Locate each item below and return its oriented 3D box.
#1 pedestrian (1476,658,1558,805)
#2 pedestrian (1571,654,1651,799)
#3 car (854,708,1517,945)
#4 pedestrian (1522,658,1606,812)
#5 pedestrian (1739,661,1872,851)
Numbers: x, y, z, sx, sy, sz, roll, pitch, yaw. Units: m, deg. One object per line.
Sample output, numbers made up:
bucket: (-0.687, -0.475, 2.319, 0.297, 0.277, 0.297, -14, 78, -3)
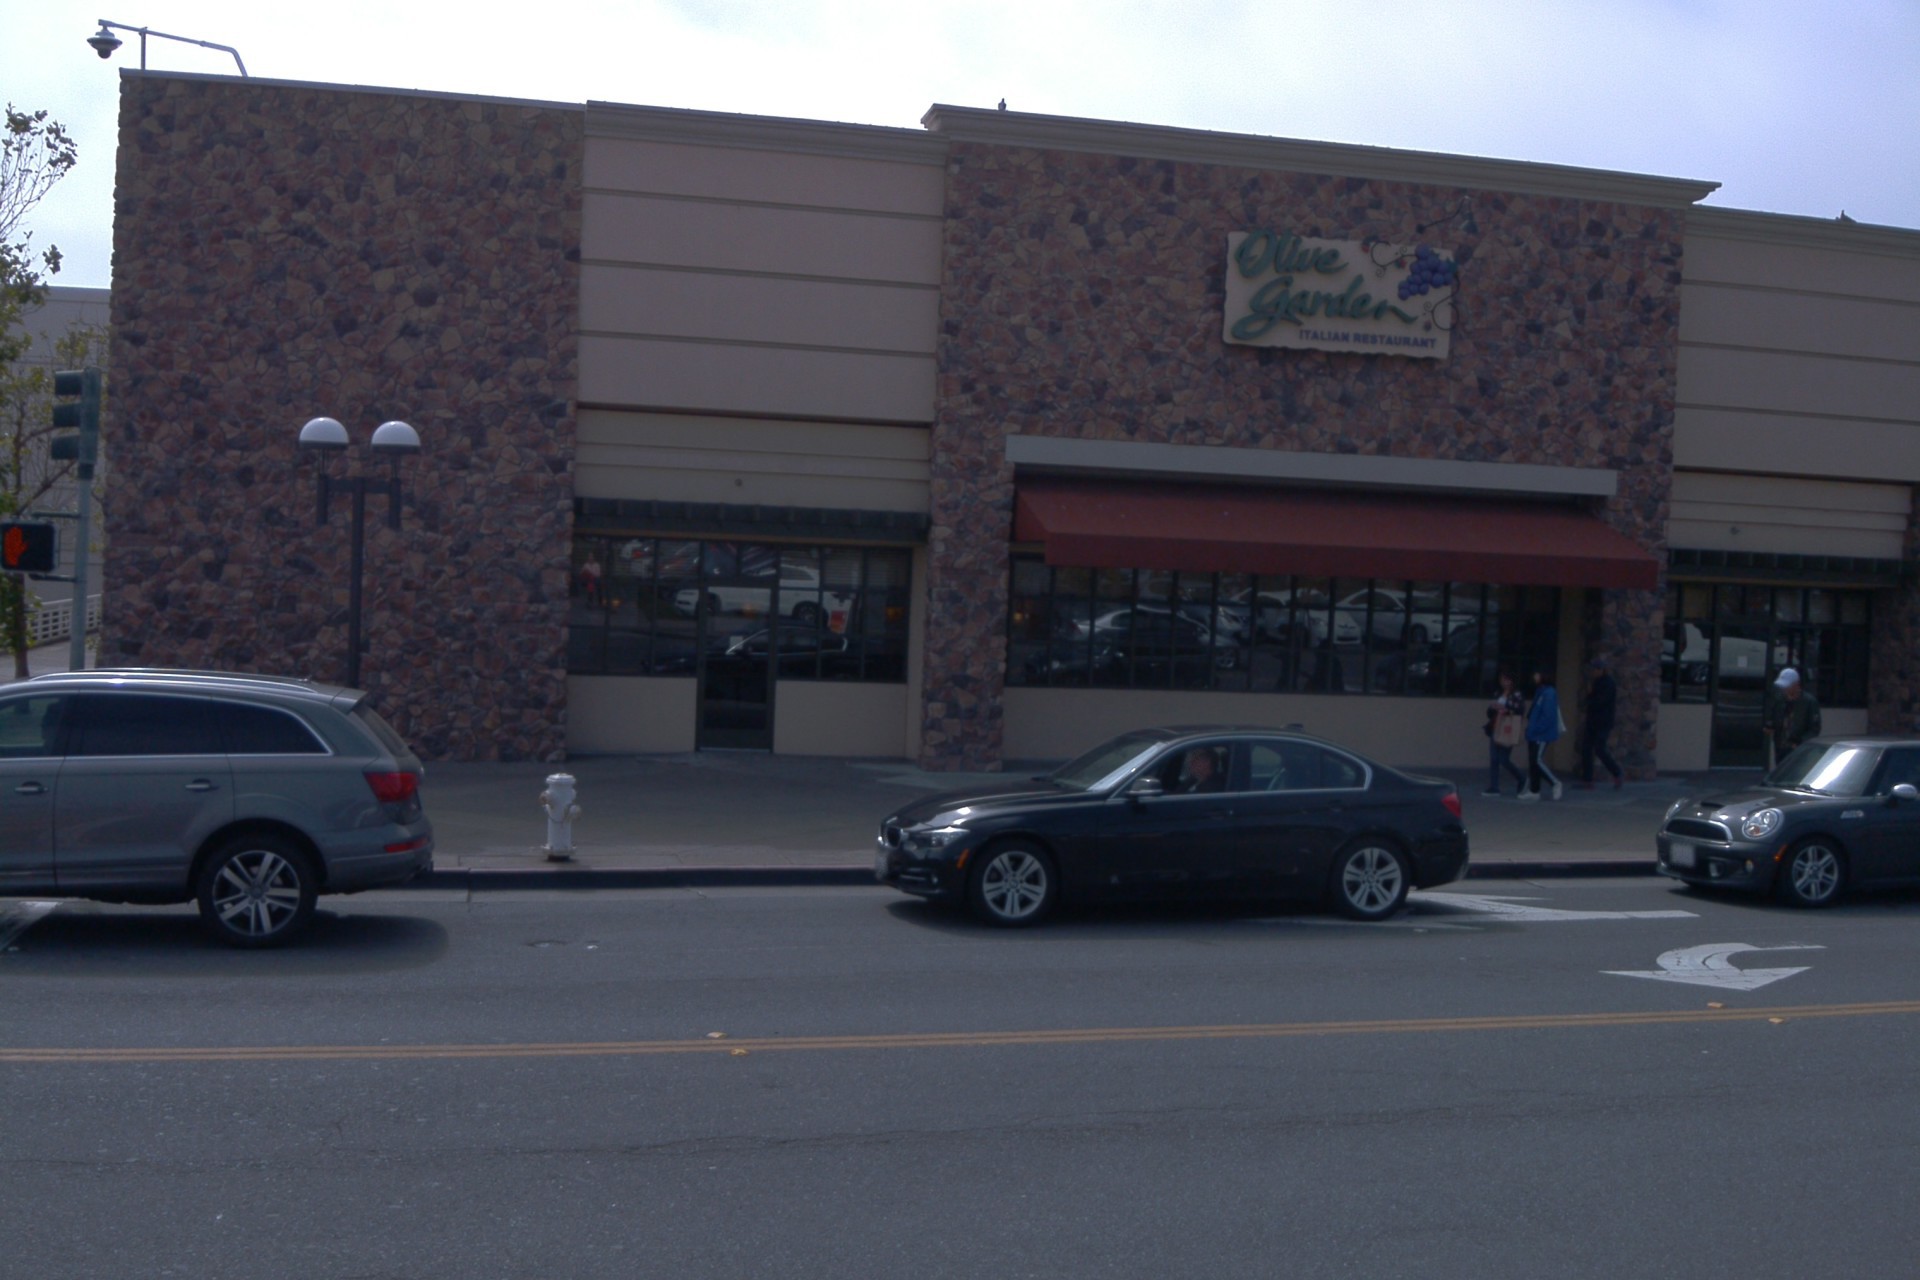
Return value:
pedestrian: (6.742, 1.089, 24.877, 0.618, 1.720, 0.726, -1, 1, -34)
pedestrian: (8.159, 1.074, 25.781, 0.699, 1.780, 0.676, 0, 1, -12)
car: (1.629, 1.332, 15.618, 4.551, 1.470, 2.091, 0, 1, -13)
pedestrian: (7.211, 1.117, 24.546, 0.618, 1.780, 0.726, -1, 1, -34)
pedestrian: (8.804, 1.179, 21.416, 0.861, 1.890, 0.944, -1, 1, -27)
